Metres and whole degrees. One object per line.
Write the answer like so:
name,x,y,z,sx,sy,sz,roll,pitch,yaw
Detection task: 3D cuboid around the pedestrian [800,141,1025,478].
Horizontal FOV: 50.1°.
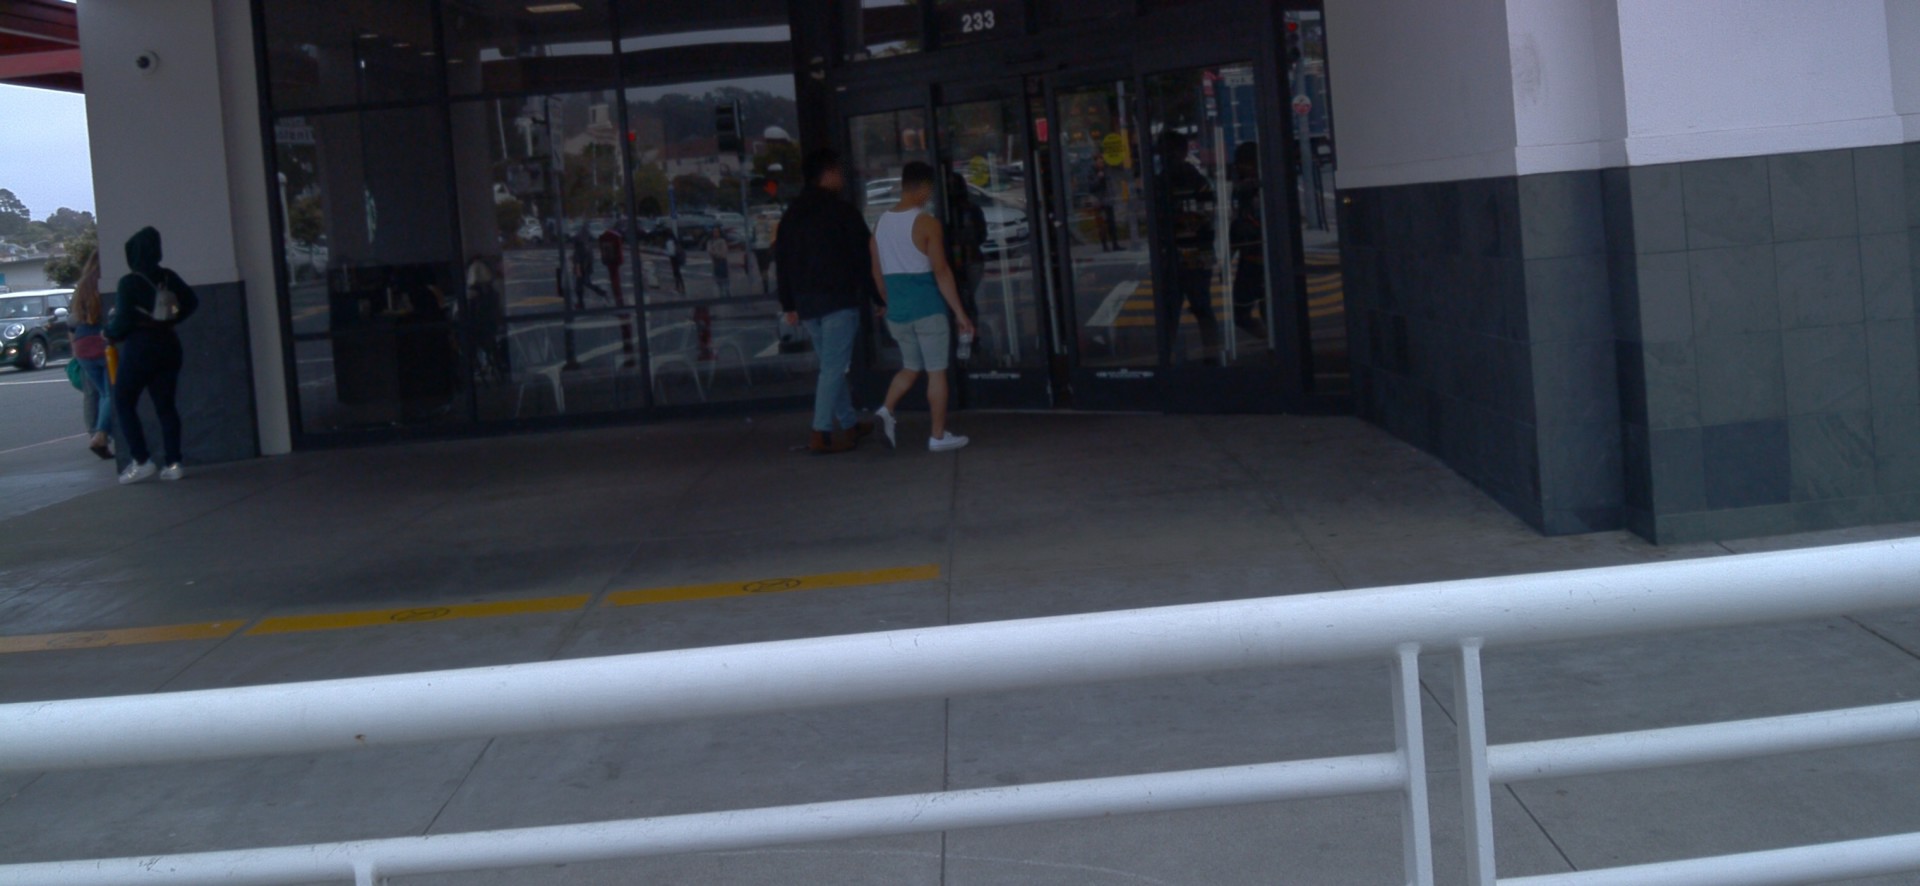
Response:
pedestrian,-0.246,-0.746,11.143,0.718,1.719,1.044,1,2,38

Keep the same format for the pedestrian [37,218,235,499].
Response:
pedestrian,-5.300,-0.578,13.227,0.950,1.729,0.765,1,1,32

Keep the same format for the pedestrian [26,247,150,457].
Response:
pedestrian,-7.421,-0.800,17.515,0.745,1.729,0.923,0,1,-7

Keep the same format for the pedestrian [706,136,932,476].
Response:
pedestrian,-0.784,-0.792,11.563,0.784,1.809,1.020,1,2,38

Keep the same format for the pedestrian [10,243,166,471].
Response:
pedestrian,-6.672,-0.682,15.767,0.829,1.699,0.867,0,1,-1
